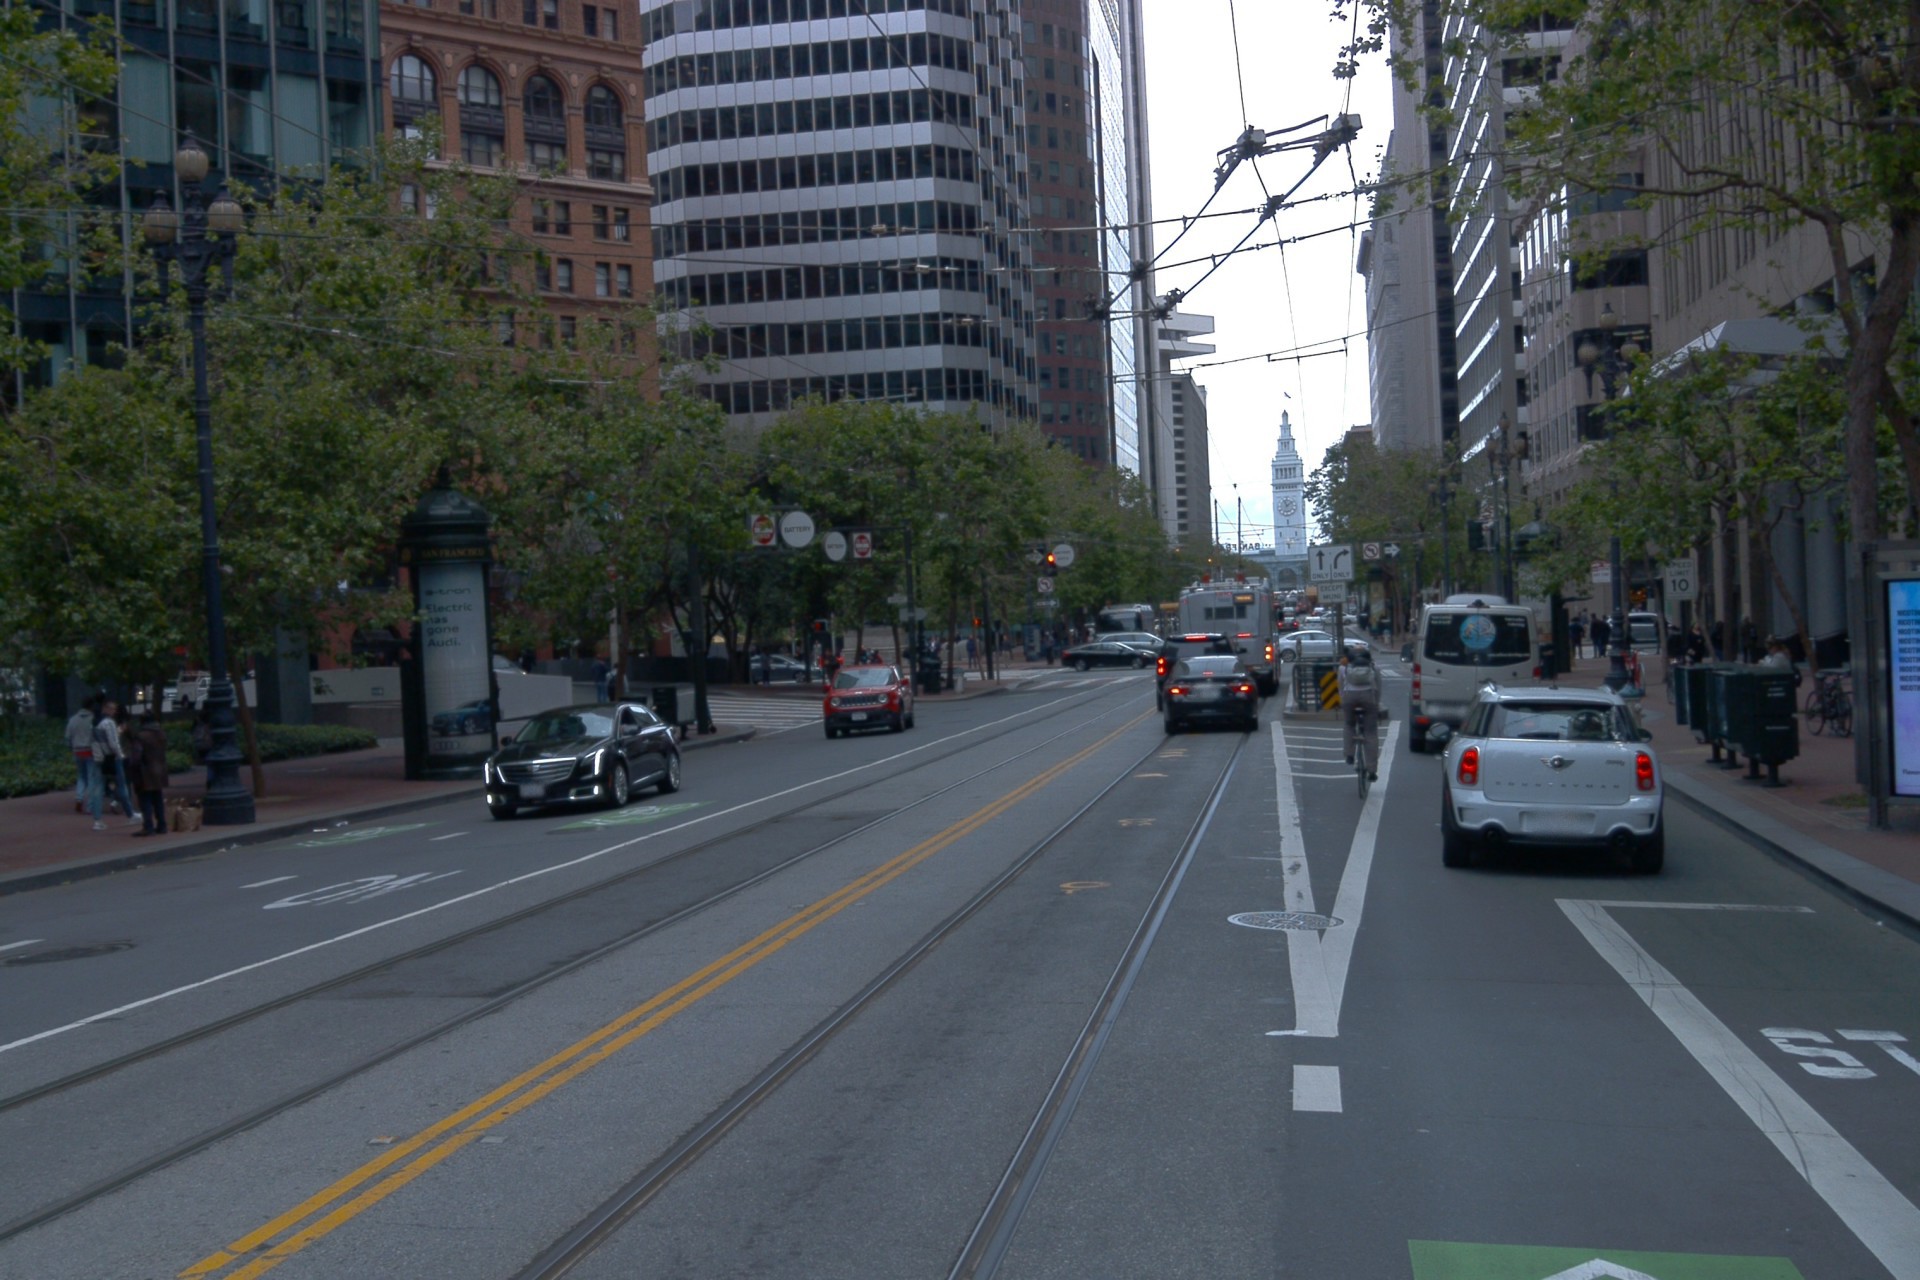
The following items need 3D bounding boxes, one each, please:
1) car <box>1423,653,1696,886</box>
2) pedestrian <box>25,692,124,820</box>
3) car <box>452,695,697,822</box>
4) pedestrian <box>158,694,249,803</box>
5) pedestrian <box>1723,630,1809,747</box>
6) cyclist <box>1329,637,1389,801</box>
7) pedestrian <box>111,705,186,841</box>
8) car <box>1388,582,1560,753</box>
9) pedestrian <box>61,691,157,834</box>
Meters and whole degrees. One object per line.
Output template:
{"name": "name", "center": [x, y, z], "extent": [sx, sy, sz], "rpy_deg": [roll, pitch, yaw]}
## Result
{"name": "car", "center": [5.237, 1.046, 18.532], "extent": [2.076, 1.784, 3.875], "rpy_deg": [0, 1, 12]}
{"name": "pedestrian", "center": [-13.514, 1.751, 31.572], "extent": [0.890, 1.880, 1.183], "rpy_deg": [0, 1, 7]}
{"name": "car", "center": [-5.450, 1.643, 29.929], "extent": [2.065, 1.500, 4.974], "rpy_deg": [0, 1, 7]}
{"name": "pedestrian", "center": [-12.758, 1.824, 34.865], "extent": [1.055, 1.770, 1.056], "rpy_deg": [0, 1, 7]}
{"name": "pedestrian", "center": [11.970, 0.712, 30.696], "extent": [0.915, 1.700, 0.906], "rpy_deg": [0, 1, 0]}
{"name": "cyclist", "center": [4.789, 0.918, 24.758], "extent": [0.638, 1.900, 1.438], "rpy_deg": [0, 1, 14]}
{"name": "pedestrian", "center": [-10.824, 1.763, 27.575], "extent": [0.641, 1.760, 0.791], "rpy_deg": [0, 1, 4]}
{"name": "car", "center": [8.452, 0.396, 34.210], "extent": [2.537, 2.590, 5.346], "rpy_deg": [0, 1, 13]}
{"name": "pedestrian", "center": [-11.877, 1.692, 28.859], "extent": [0.746, 1.920, 1.119], "rpy_deg": [0, 1, 8]}
